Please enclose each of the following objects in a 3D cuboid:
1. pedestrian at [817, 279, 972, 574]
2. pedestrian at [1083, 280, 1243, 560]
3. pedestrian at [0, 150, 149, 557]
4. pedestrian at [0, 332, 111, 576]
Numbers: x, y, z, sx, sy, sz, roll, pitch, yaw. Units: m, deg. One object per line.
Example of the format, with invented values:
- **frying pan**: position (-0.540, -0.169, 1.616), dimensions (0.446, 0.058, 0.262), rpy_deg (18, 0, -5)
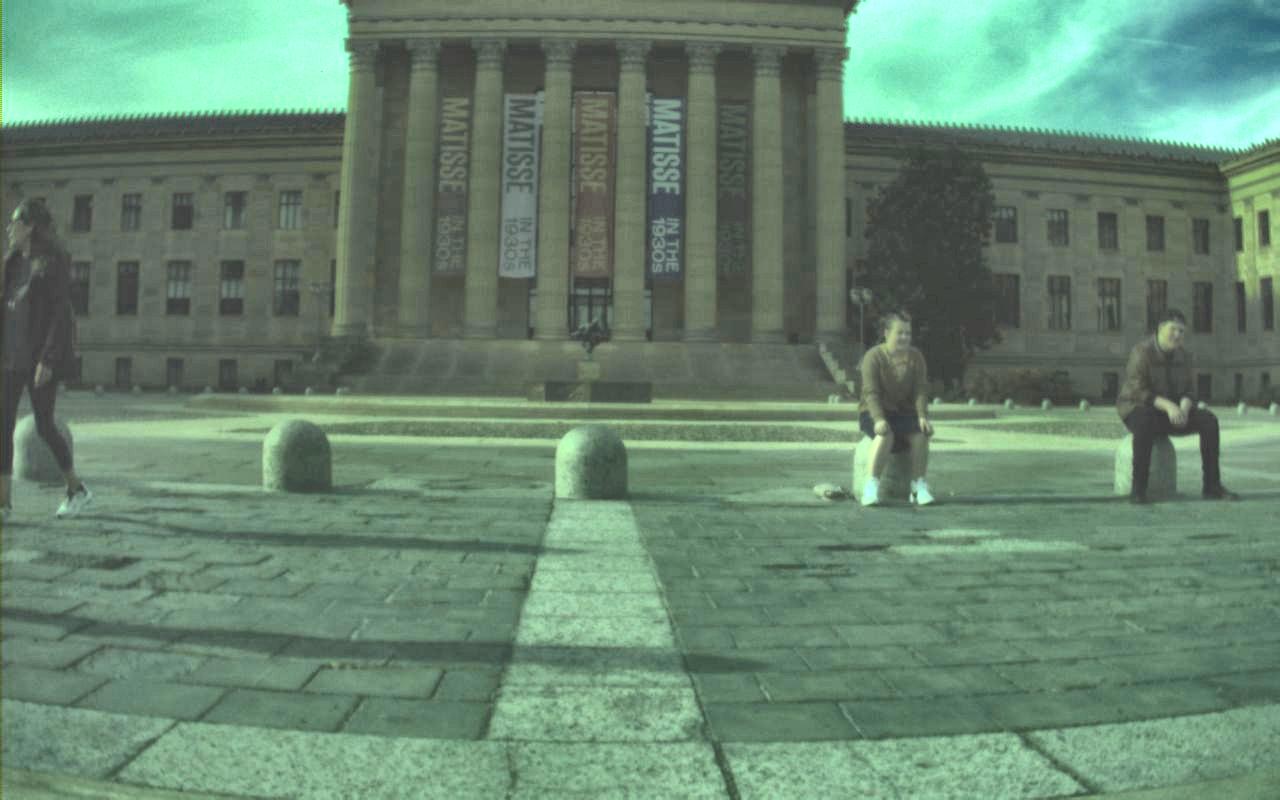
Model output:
- **pedestrian**: position (1.588, 0.158, 7.839), dimensions (0.832, 1.766, 0.831), rpy_deg (0, 0, 1)
- **pedestrian**: position (3.506, 0.138, 7.863), dimensions (0.831, 1.769, 0.840), rpy_deg (0, 0, -2)
- **pedestrian**: position (-2.905, -0.205, 5.441), dimensions (0.786, 1.801, 0.836), rpy_deg (0, 0, 6)
- **pedestrian**: position (-4.058, 0.364, 7.679), dimensions (0.829, 1.576, 0.852), rpy_deg (0, 0, -17)
